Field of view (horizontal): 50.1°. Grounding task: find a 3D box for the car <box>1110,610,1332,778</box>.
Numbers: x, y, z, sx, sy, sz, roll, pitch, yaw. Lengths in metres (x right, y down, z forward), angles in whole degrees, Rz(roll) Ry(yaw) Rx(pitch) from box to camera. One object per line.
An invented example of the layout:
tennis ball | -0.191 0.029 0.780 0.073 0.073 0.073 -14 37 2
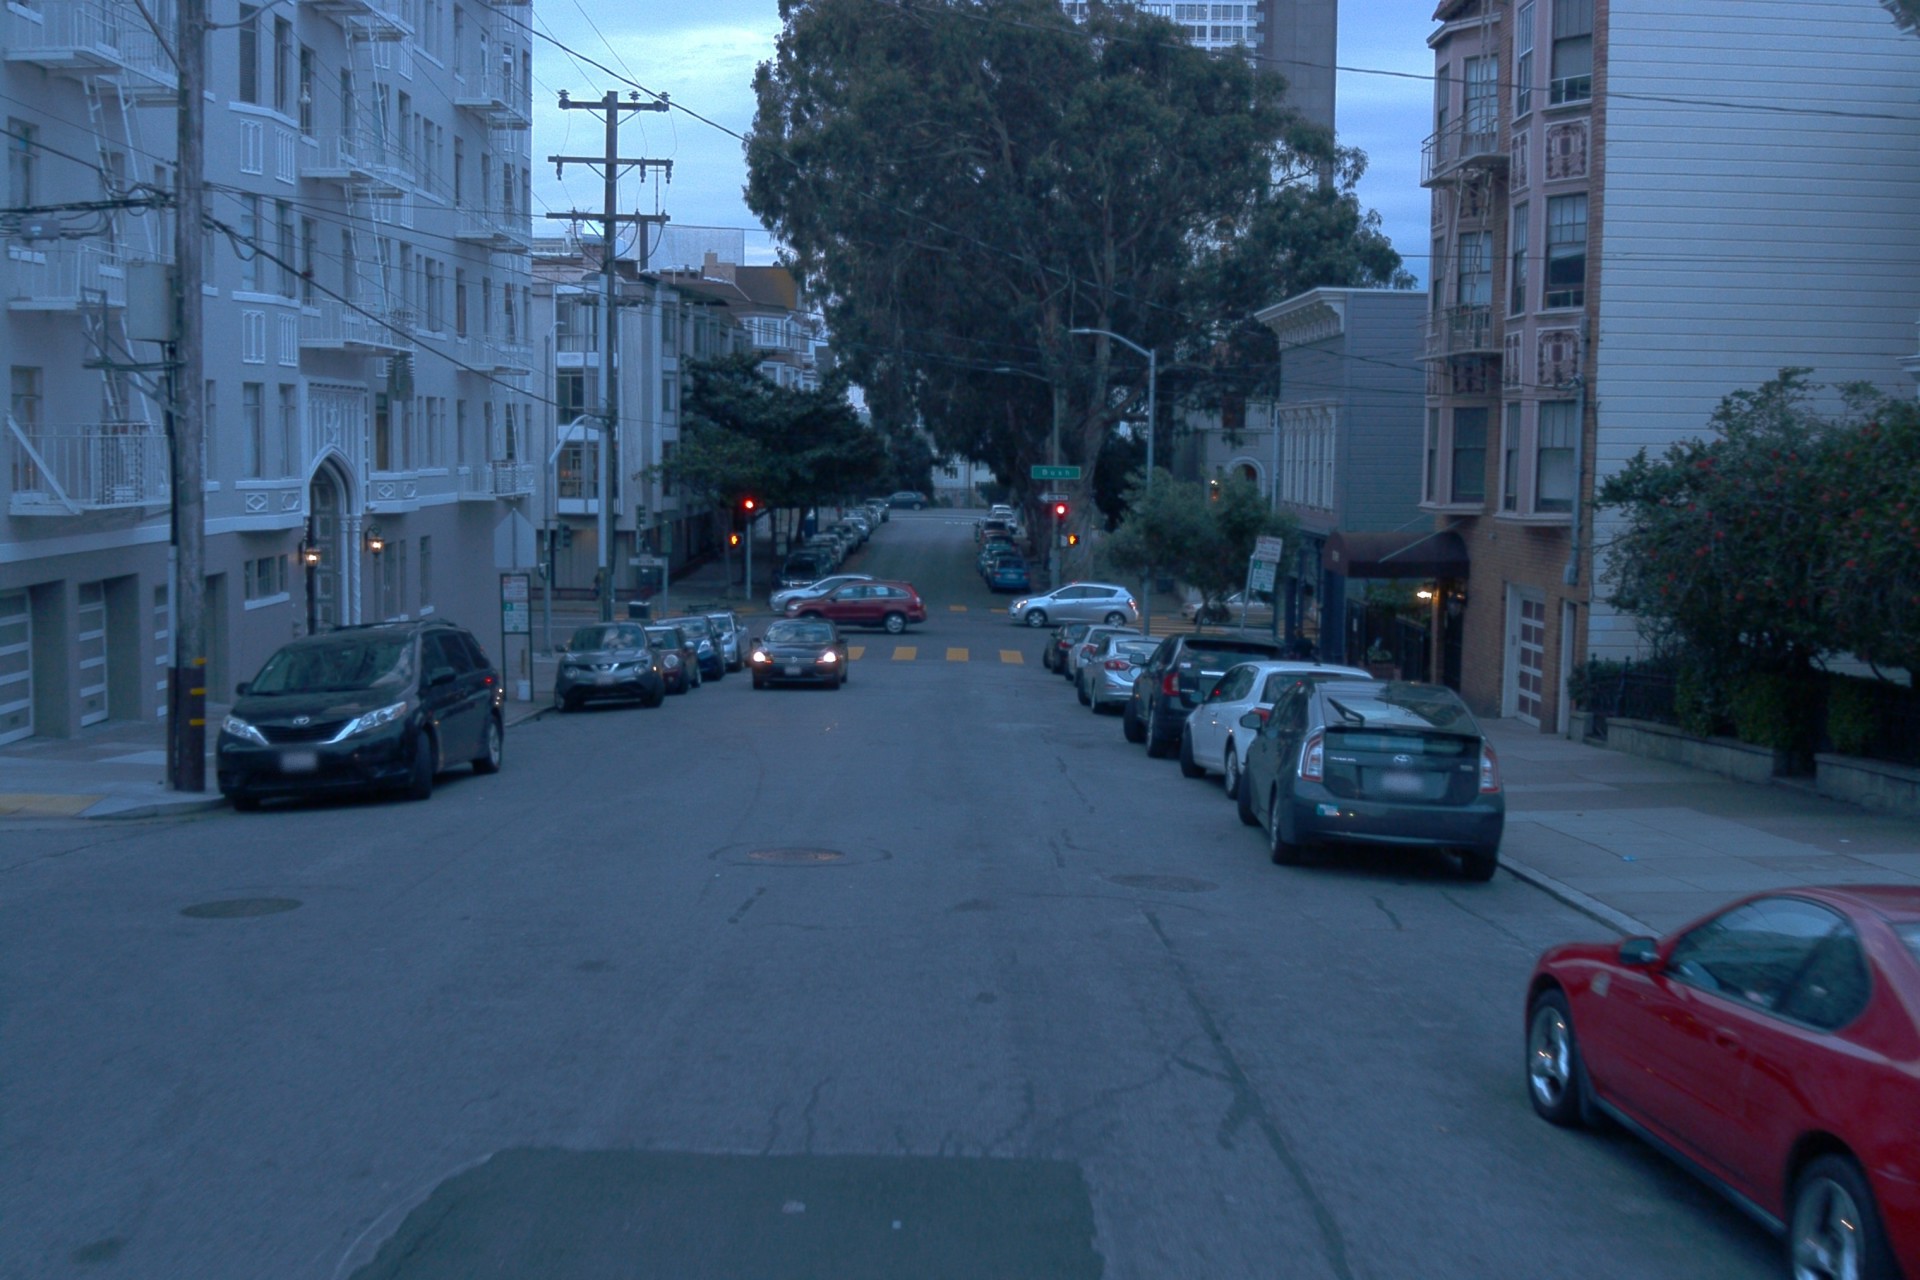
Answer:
car | 3.463 0.648 28.265 2.390 2.070 4.749 1 1 0

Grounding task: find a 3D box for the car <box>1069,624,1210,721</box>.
car | 3.241 0.553 37.937 2.012 1.600 4.607 1 1 -2

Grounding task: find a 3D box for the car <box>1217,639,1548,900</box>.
car | 3.420 0.960 17.531 2.066 1.830 4.432 1 1 3

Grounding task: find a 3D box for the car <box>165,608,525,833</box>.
car | -6.269 0.706 21.698 2.333 2.050 5.123 1 1 -1

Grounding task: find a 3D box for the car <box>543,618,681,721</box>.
car | -6.286 0.487 37.554 2.092 1.710 4.114 1 1 -4

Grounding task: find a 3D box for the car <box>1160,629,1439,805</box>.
car | 3.657 0.777 22.955 2.127 1.700 4.152 1 1 -4
